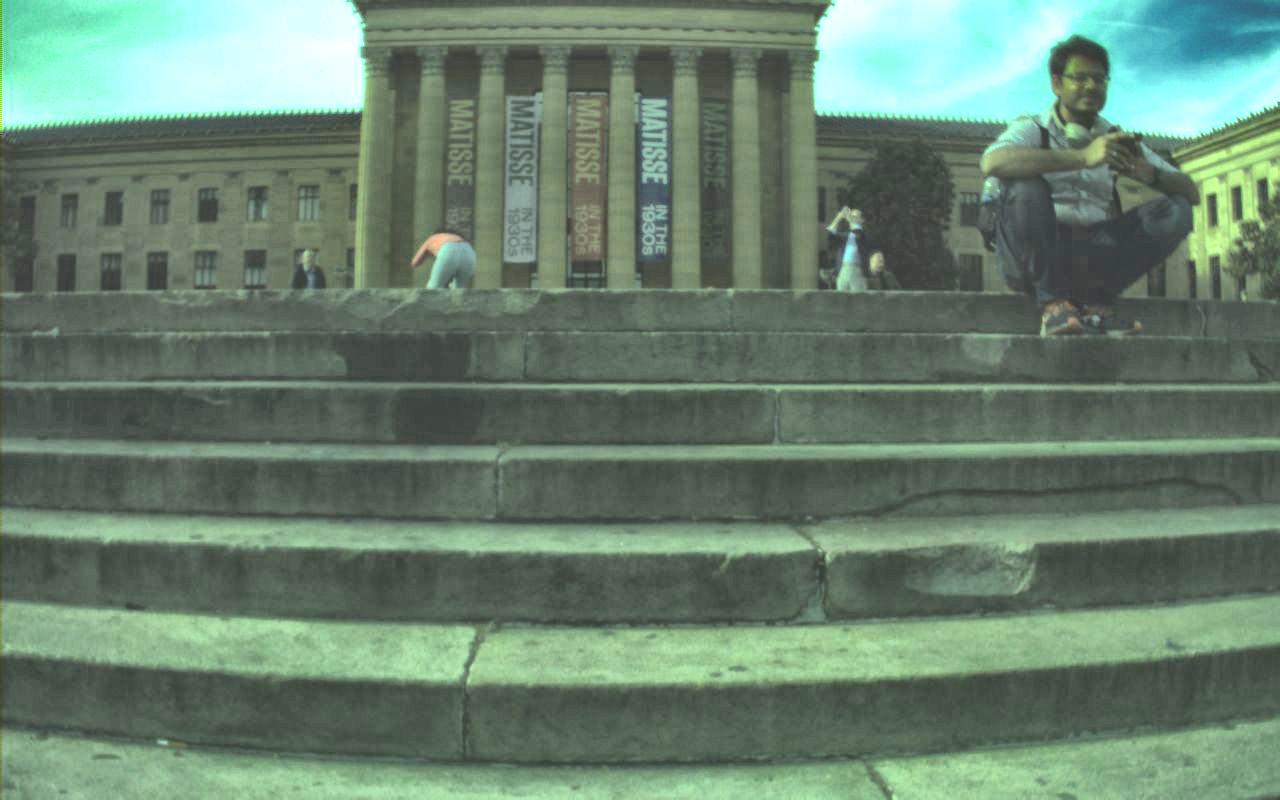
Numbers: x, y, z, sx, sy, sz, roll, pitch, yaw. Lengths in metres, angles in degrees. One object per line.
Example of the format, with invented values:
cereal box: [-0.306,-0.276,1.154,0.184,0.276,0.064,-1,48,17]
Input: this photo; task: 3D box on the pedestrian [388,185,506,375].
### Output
pedestrian: [-1.820,-1.082,11.677,0.835,1.697,0.884,0,0,-30]

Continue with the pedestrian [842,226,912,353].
pedestrian: [3.148,-1.447,16.611,0.818,1.641,0.827,0,0,0]

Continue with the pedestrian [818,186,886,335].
pedestrian: [2.610,-1.687,15.330,0.786,1.776,0.784,0,0,13]

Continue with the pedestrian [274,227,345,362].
pedestrian: [-4.341,-1.347,16.009,0.807,1.718,0.780,0,0,-25]

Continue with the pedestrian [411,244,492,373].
pedestrian: [-2.439,-1.166,16.212,0.844,1.623,0.830,0,0,7]

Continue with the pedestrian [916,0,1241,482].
pedestrian: [1.394,-0.582,3.740,0.771,1.599,0.712,0,0,-24]
